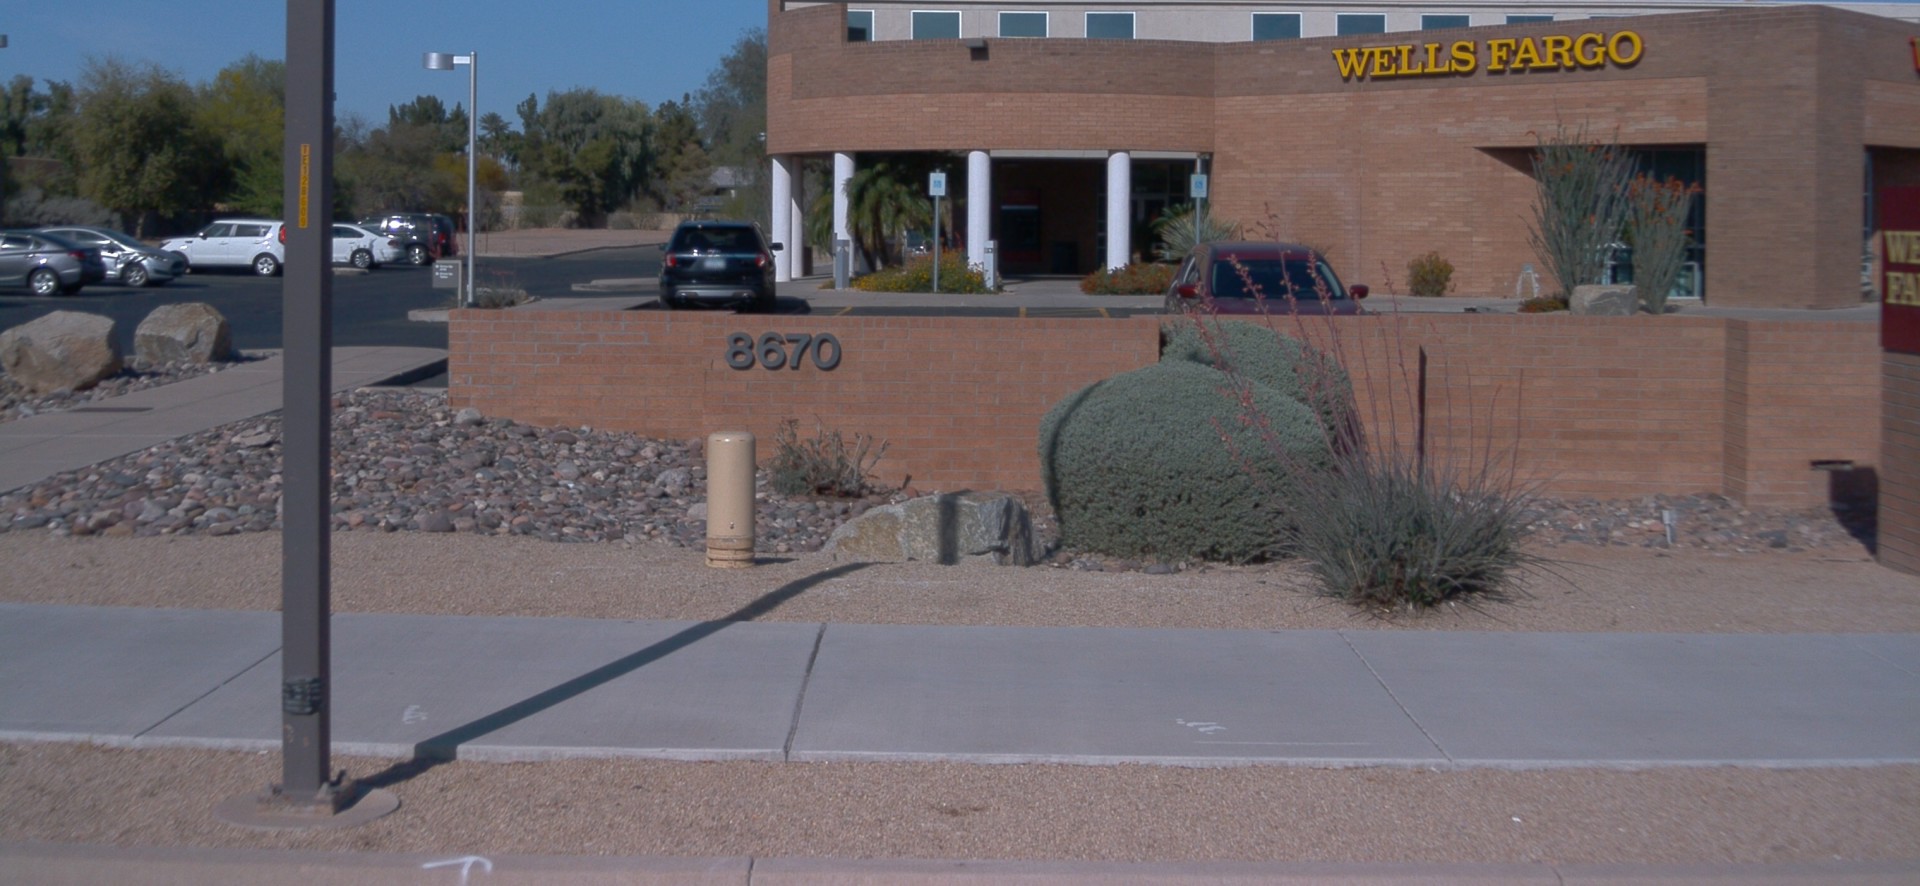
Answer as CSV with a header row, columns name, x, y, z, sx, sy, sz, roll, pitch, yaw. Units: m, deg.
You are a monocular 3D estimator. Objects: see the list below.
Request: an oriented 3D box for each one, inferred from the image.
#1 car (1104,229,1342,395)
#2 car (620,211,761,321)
name,x,y,z,sx,sy,sz,roll,pitch,yaw
car,2.868,-1.561,23.631,2.054,1.675,4.436,1,5,-1
car,-4.859,-3.266,37.999,2.205,1.844,4.792,1,5,-4
